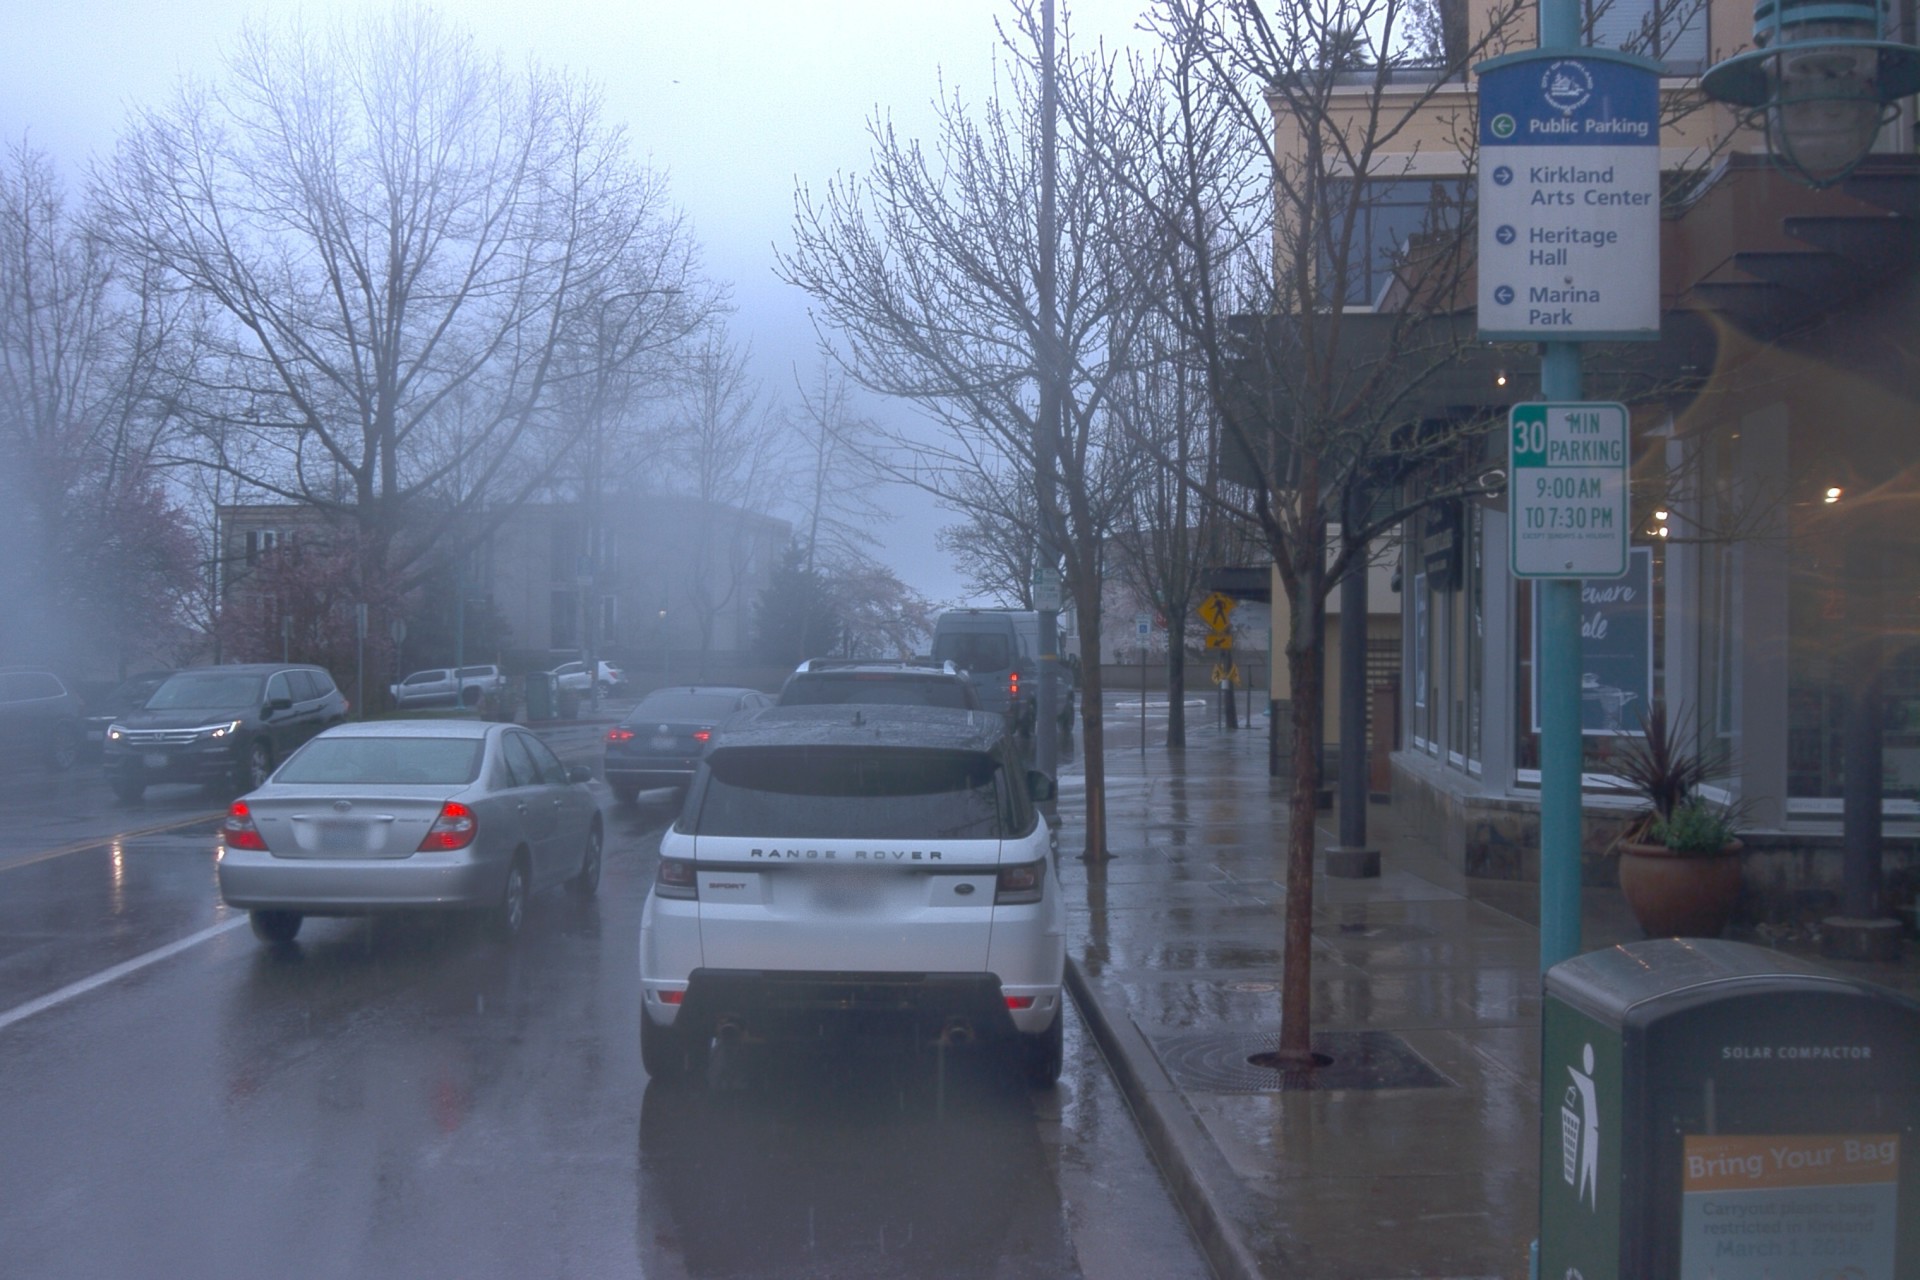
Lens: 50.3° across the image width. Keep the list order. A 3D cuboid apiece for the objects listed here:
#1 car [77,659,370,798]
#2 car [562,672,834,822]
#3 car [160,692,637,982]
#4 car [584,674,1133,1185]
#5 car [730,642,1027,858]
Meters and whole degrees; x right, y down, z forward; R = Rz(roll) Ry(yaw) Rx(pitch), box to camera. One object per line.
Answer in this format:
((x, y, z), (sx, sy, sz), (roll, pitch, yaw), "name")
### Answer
((-10.270, 1.165, 29.017), (2.076, 1.690, 5.201), (1, 0, 2), "car")
((-3.297, 1.313, 26.961), (2.238, 1.640, 5.184), (1, 0, 8), "car")
((-3.798, 1.259, 14.853), (2.047, 1.580, 4.850), (1, 0, 1), "car")
((-0.520, 1.261, 11.131), (2.265, 2.000, 5.125), (1, 0, -2), "car")
((-0.713, 0.832, 17.967), (2.210, 1.560, 5.097), (1, 0, -2), "car")
